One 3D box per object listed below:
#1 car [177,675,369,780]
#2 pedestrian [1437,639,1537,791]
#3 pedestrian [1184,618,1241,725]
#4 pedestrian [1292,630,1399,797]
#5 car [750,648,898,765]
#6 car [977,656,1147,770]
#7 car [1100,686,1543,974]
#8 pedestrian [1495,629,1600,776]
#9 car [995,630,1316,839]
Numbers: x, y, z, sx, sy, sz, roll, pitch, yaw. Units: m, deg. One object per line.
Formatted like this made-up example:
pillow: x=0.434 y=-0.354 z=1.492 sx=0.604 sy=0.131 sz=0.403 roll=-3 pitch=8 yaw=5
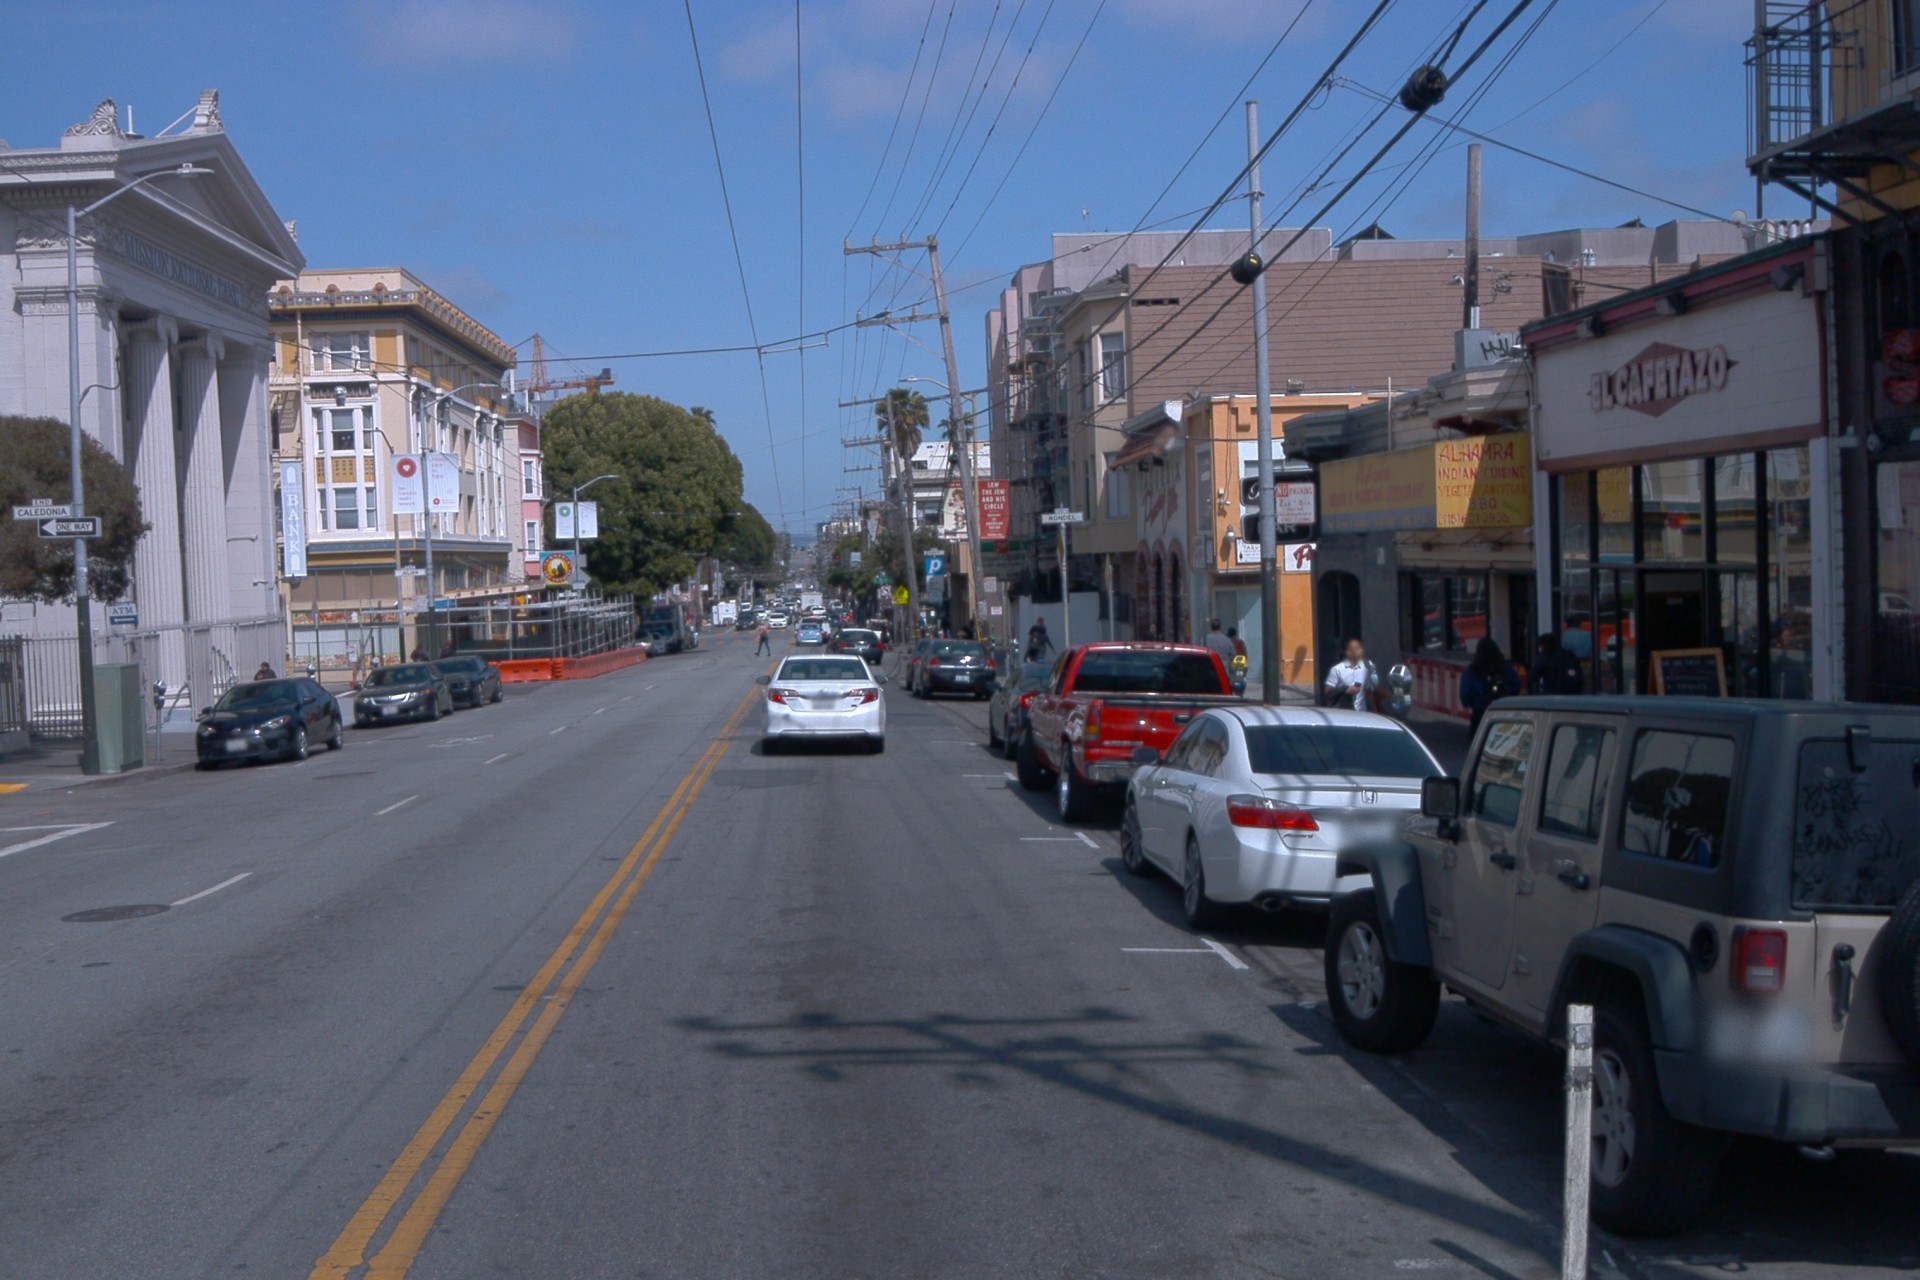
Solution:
car: x=-12.130 y=1.498 z=36.616 sx=2.048 sy=1.610 sz=4.714 roll=0 pitch=1 yaw=-3
pedestrian: x=5.499 y=0.767 z=21.484 sx=0.765 sy=1.530 sz=0.959 roll=0 pitch=1 yaw=-3
pedestrian: x=4.251 y=0.523 z=34.704 sx=0.846 sy=1.780 sz=0.703 roll=0 pitch=1 yaw=-2
pedestrian: x=4.205 y=0.781 z=22.491 sx=0.866 sy=1.760 sz=1.173 roll=0 pitch=1 yaw=-4
car: x=-2.071 y=0.944 z=31.410 sx=2.078 sy=1.570 sz=4.574 roll=0 pitch=1 yaw=-4
car: x=1.425 y=1.024 z=30.467 sx=1.866 sy=1.460 sz=4.429 roll=0 pitch=1 yaw=-6
car: x=2.388 y=1.215 z=15.029 sx=2.103 sy=1.580 sz=4.862 roll=0 pitch=1 yaw=-4
pedestrian: x=6.505 y=0.679 z=22.787 sx=0.918 sy=1.600 sz=0.702 roll=0 pitch=1 yaw=-8
car: x=1.909 y=0.879 z=22.337 sx=2.361 sy=1.910 sz=5.685 roll=0 pitch=1 yaw=-6
